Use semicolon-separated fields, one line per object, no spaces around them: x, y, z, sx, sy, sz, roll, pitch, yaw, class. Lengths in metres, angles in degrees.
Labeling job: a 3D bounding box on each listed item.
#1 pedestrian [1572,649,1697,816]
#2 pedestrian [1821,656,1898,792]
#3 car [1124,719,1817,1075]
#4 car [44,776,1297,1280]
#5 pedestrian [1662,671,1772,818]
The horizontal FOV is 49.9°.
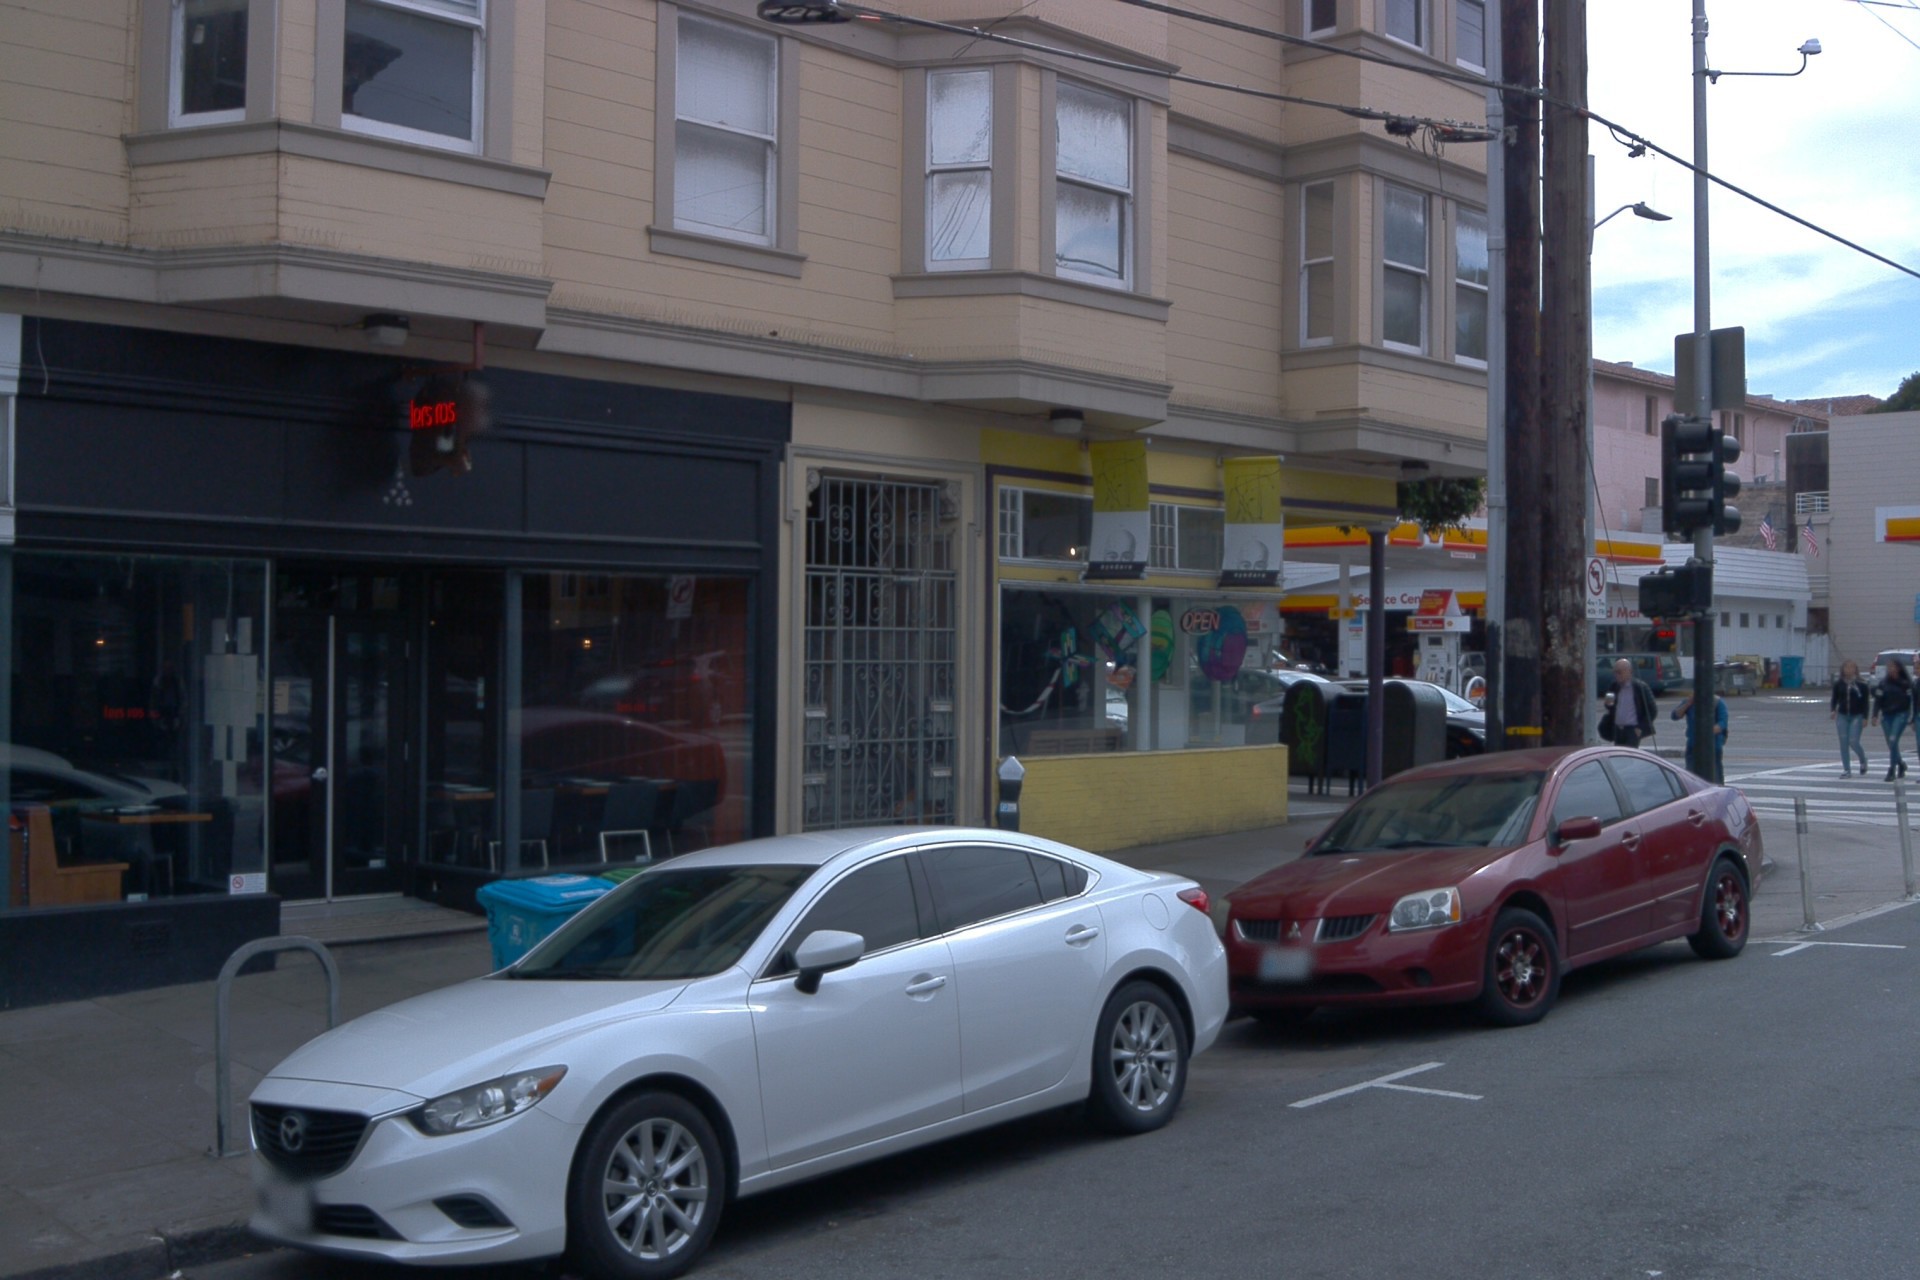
7.981;1.066;24.408;1.105;1.876;0.998;-1;1;-44;pedestrian
11.965;1.101;27.455;0.702;1.740;0.838;1;1;42;pedestrian
3.357;1.382;12.840;2.087;1.500;4.896;1;1;42;car
-0.866;1.536;8.566;2.130;1.520;4.912;1;1;42;car
8.577;1.161;23.390;1.055;1.580;0.778;-1;1;-44;pedestrian
